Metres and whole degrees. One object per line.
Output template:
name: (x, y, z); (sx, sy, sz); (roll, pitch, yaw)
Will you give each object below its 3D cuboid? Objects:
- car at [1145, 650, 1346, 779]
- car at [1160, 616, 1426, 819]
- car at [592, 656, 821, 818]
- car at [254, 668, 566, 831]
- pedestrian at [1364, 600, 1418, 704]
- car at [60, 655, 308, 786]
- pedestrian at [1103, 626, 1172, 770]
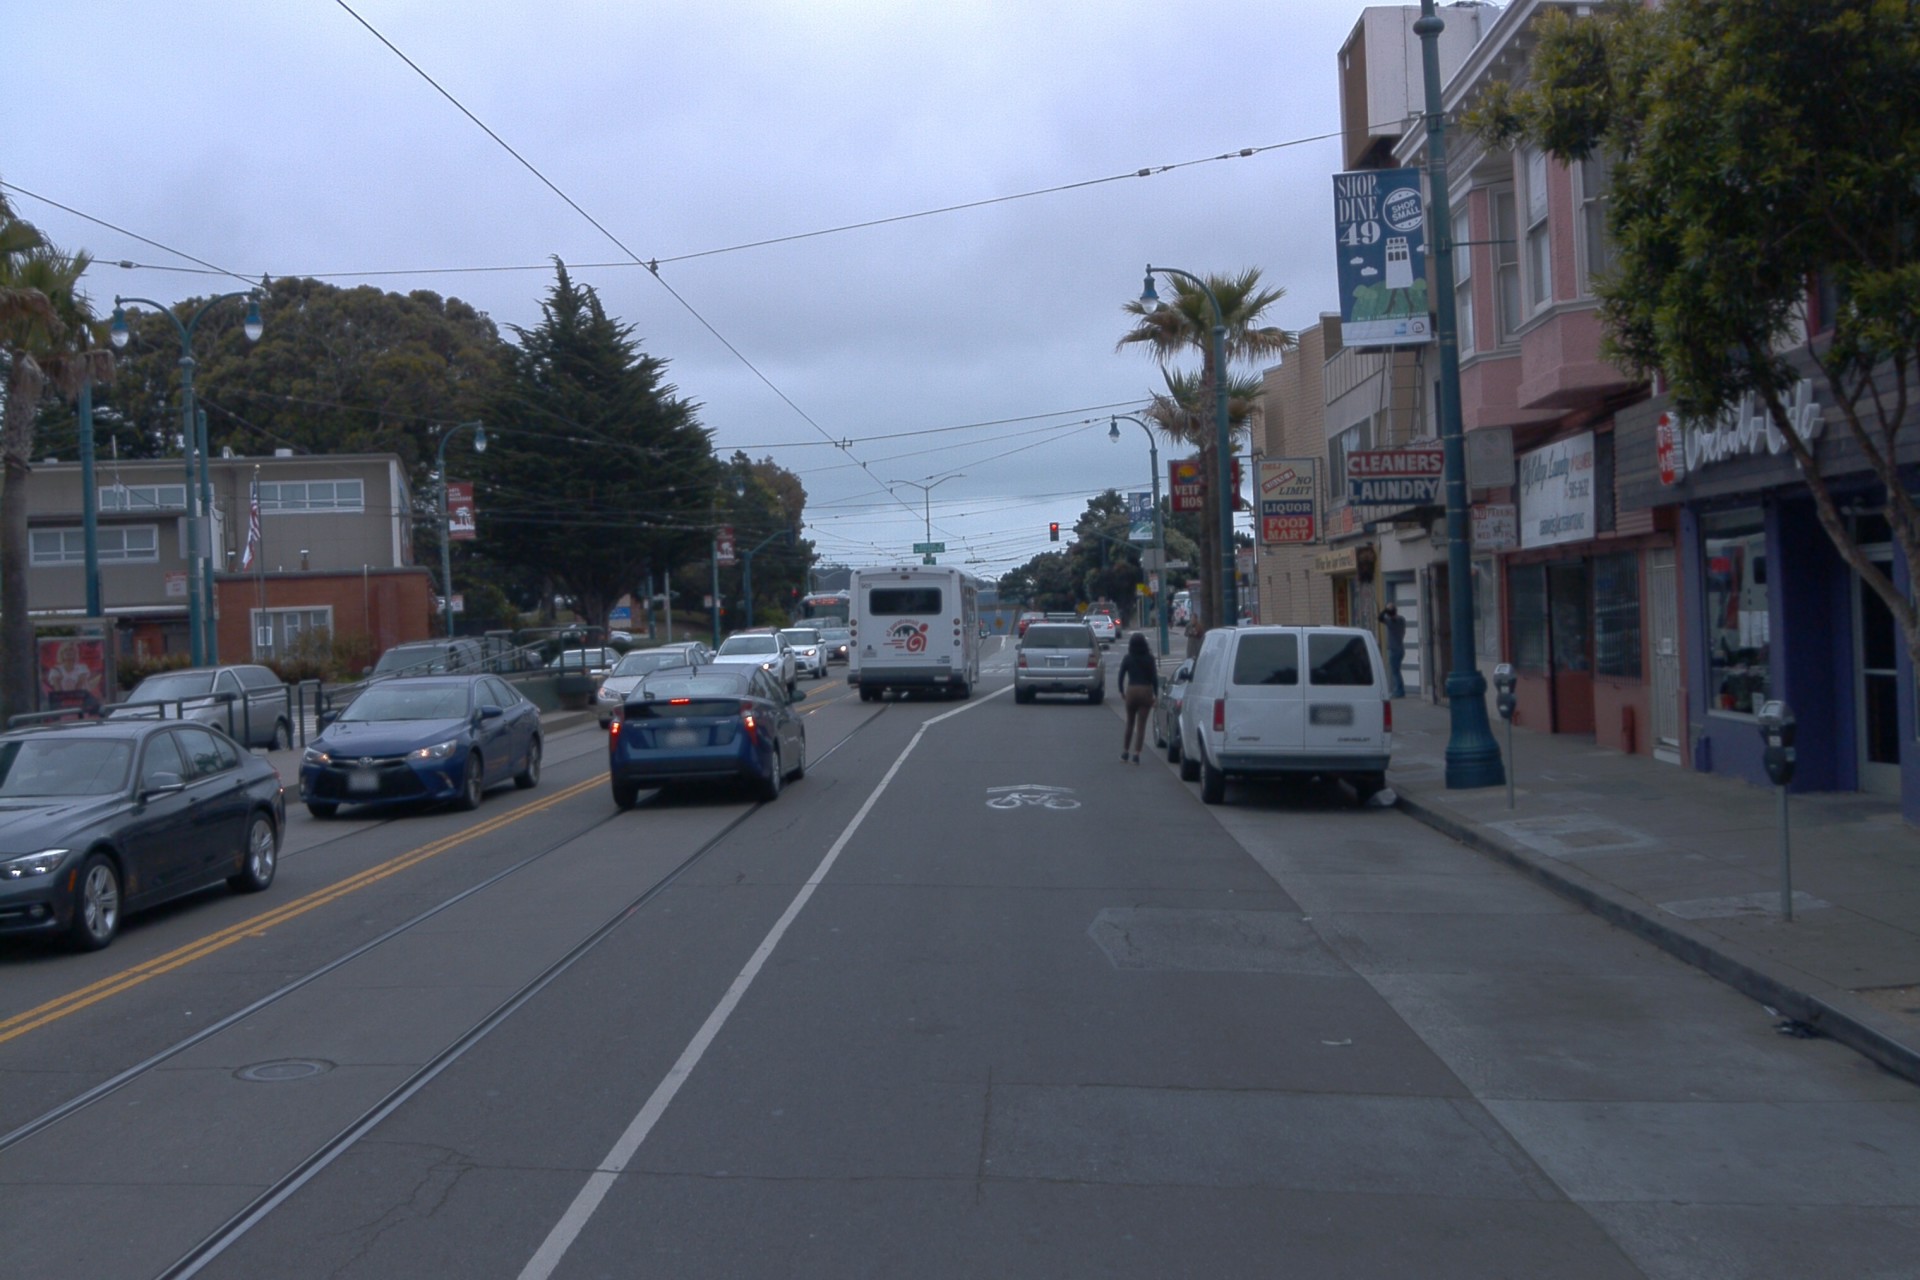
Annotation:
car: (3.882, 0.966, 28.825); (2.201, 1.540, 4.889); (0, 1, 1)
car: (3.576, 0.752, 23.055); (2.315, 2.000, 4.858); (0, 1, 2)
car: (-2.736, 1.009, 23.146); (1.971, 1.540, 4.259); (0, 1, 1)
car: (-6.139, 1.165, 23.620); (2.124, 1.540, 4.823); (0, 1, 2)
pedestrian: (7.635, 0.197, 36.460); (0.806, 1.820, 0.856); (0, 1, 3)
car: (-12.760, 1.265, 34.205); (2.142, 1.890, 4.847); (0, 1, 2)
pedestrian: (2.335, 0.752, 27.141); (0.851, 1.860, 0.978); (0, 1, 1)
